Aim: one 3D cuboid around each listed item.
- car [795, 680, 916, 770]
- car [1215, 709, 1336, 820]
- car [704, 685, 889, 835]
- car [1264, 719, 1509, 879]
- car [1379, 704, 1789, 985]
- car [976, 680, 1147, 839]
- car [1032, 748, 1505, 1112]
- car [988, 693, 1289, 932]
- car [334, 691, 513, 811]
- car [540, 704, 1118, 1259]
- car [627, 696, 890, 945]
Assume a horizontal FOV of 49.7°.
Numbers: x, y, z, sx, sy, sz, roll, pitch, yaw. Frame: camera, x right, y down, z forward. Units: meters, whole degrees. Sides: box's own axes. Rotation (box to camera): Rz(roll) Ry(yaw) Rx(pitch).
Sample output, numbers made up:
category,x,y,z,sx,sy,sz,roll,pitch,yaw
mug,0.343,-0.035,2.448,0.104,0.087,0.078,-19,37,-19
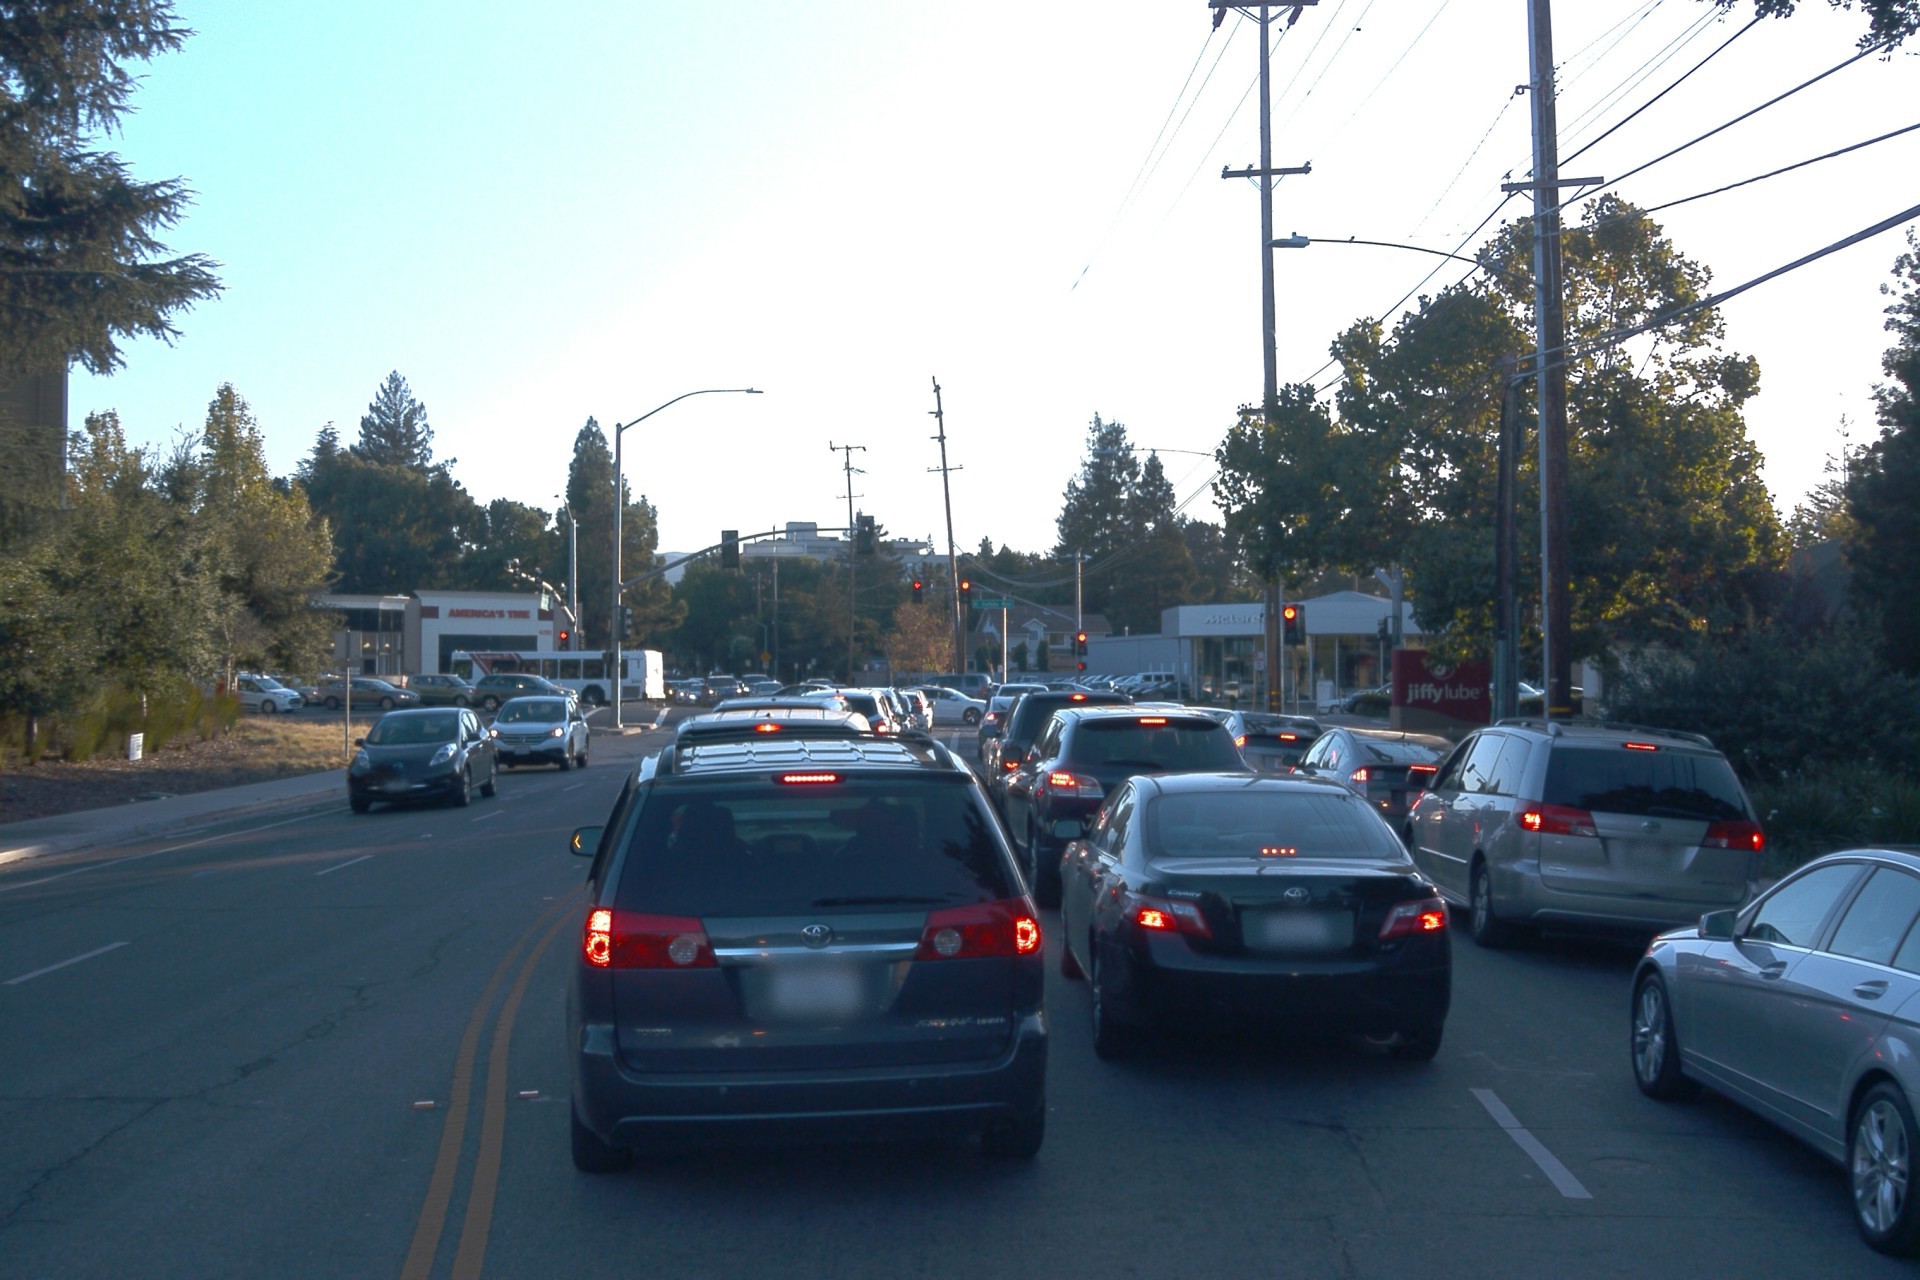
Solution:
category,x,y,z,sx,sy,sz,roll,pitch,yaw
car,-1.660,1.351,33.817,1.709,1.350,3.337,0,0,2
car,4.670,1.814,30.934,1.418,1.490,3.138,0,0,2
car,-1.862,1.357,24.682,1.760,1.570,3.956,0,0,2
car,4.676,1.703,23.273,1.785,1.510,4.026,0,0,-2
car,4.903,1.519,17.100,2.061,1.850,4.903,0,0,2
car,1.186,1.409,25.823,1.759,1.770,3.957,0,0,-3
car,1.529,1.475,11.982,1.915,1.490,4.528,0,0,-2
car,1.458,1.432,18.802,1.992,1.810,4.553,0,0,-5
car,-8.524,1.723,33.301,1.988,1.720,4.255,0,0,-3
car,-0.873,1.301,10.217,2.102,1.830,5.461,0,0,-9
car,-1.459,1.297,16.294,1.812,1.620,4.042,0,0,-2
